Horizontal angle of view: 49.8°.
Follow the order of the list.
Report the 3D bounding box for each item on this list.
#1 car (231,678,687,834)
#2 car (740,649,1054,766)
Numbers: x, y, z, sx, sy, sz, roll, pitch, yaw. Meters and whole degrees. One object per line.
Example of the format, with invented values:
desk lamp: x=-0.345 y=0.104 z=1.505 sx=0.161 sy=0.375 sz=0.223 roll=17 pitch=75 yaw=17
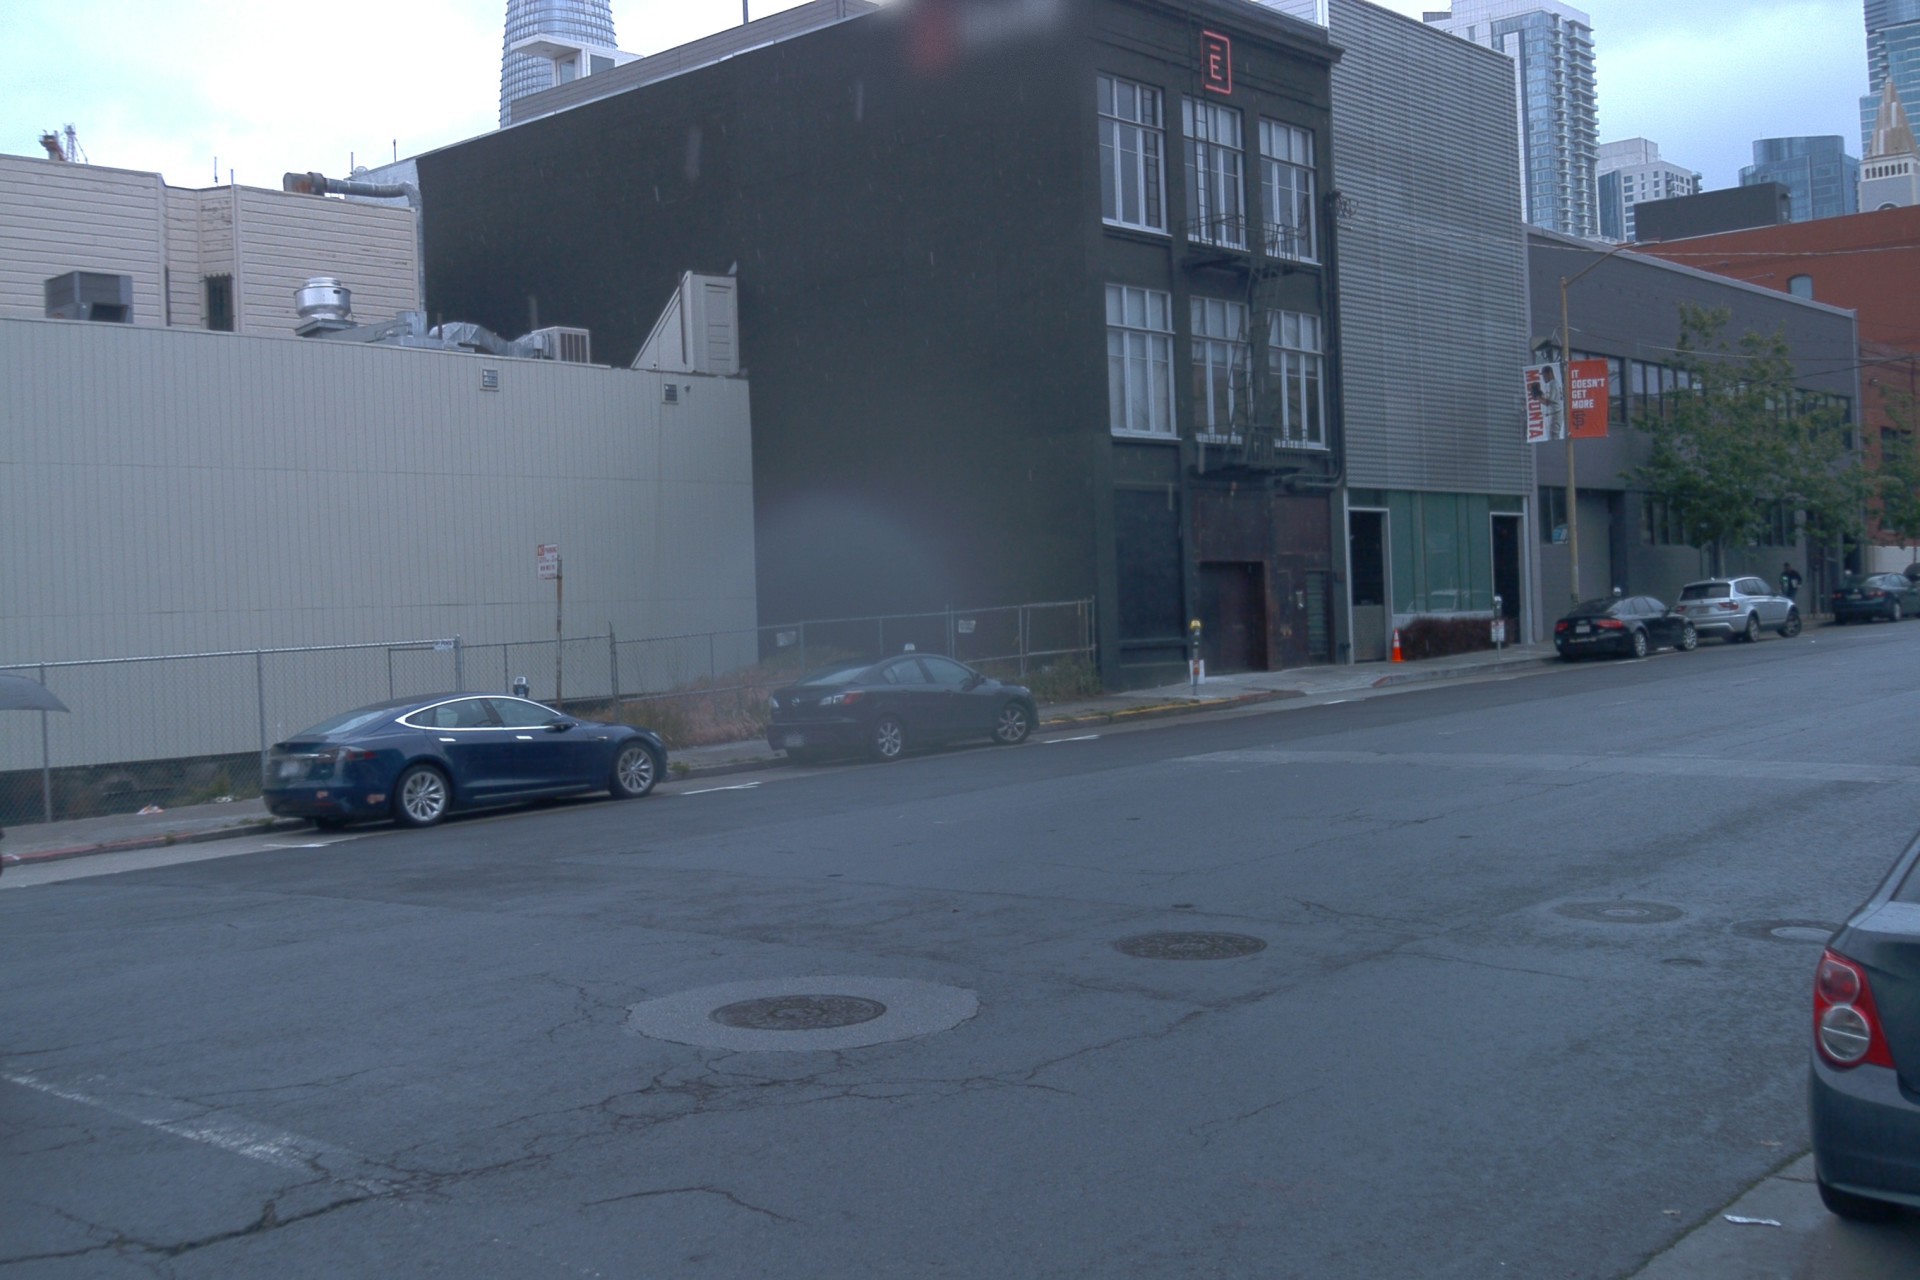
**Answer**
car: x=-5.569 y=1.222 z=23.531 sx=2.011 sy=1.550 sz=4.768 roll=0 pitch=-1 yaw=40
car: x=-0.816 y=0.898 z=29.029 sx=2.005 sy=1.500 sz=4.289 roll=0 pitch=-1 yaw=41
